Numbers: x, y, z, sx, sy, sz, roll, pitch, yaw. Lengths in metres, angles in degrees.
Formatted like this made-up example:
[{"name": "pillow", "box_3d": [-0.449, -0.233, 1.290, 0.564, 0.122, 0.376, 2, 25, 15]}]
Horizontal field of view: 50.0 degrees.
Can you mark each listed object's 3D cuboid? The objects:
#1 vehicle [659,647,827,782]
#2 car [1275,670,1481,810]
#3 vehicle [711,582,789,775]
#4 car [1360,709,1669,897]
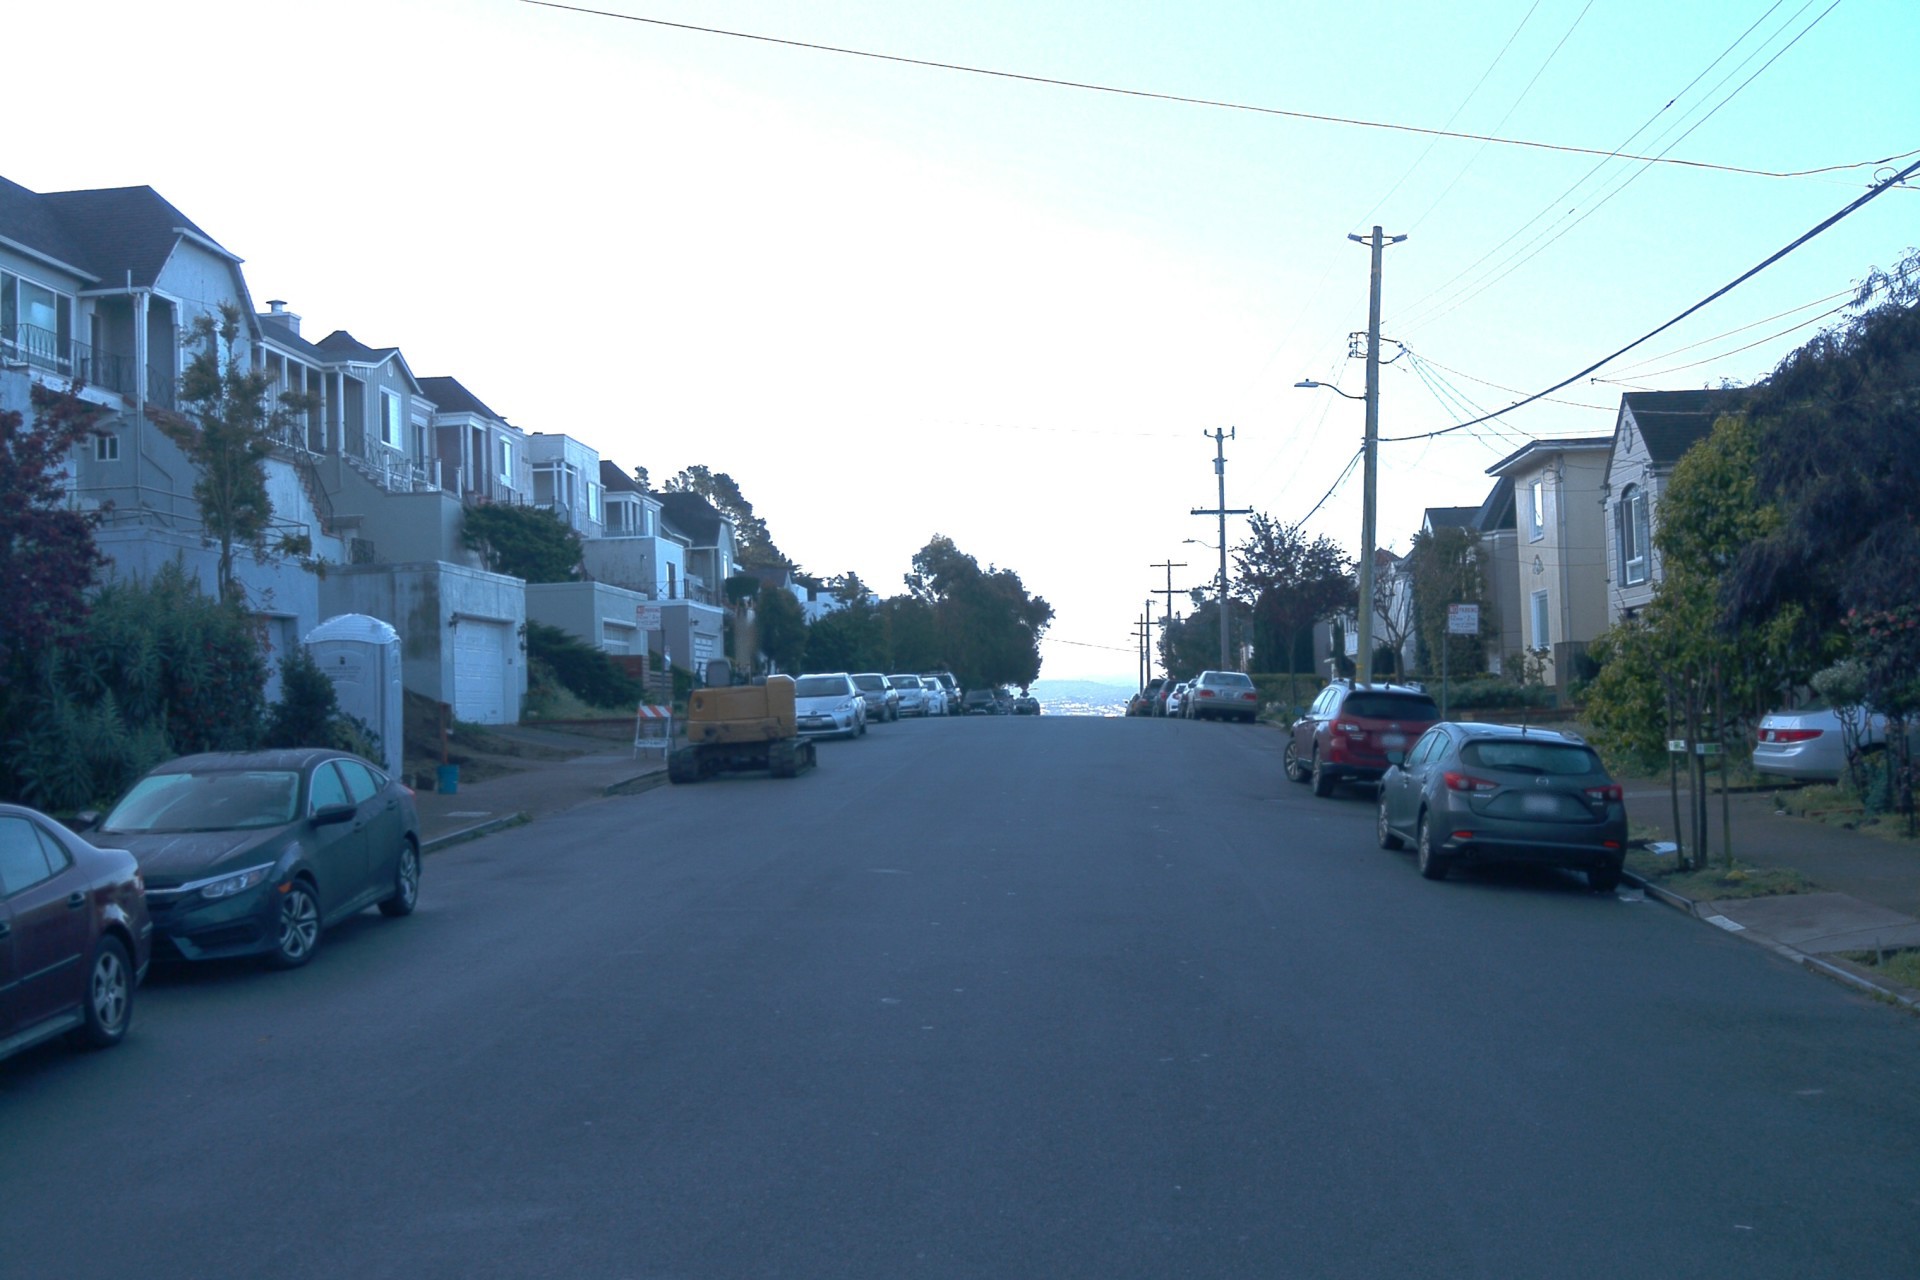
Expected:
[{"name": "vehicle", "box_3d": [-3.434, 1.145, 33.195, 2.169, 2.050, 3.319, 0, 0, 3]}, {"name": "car", "box_3d": [5.999, 1.383, 30.220, 2.205, 1.800, 4.942, 0, 0, 2]}, {"name": "vehicle", "box_3d": [-3.578, 0.634, 35.324, 1.141, 3.170, 2.651, 0, 0, -2]}, {"name": "car", "box_3d": [5.301, 1.501, 20.364, 2.103, 1.480, 4.620, 0, 0, 4]}]
